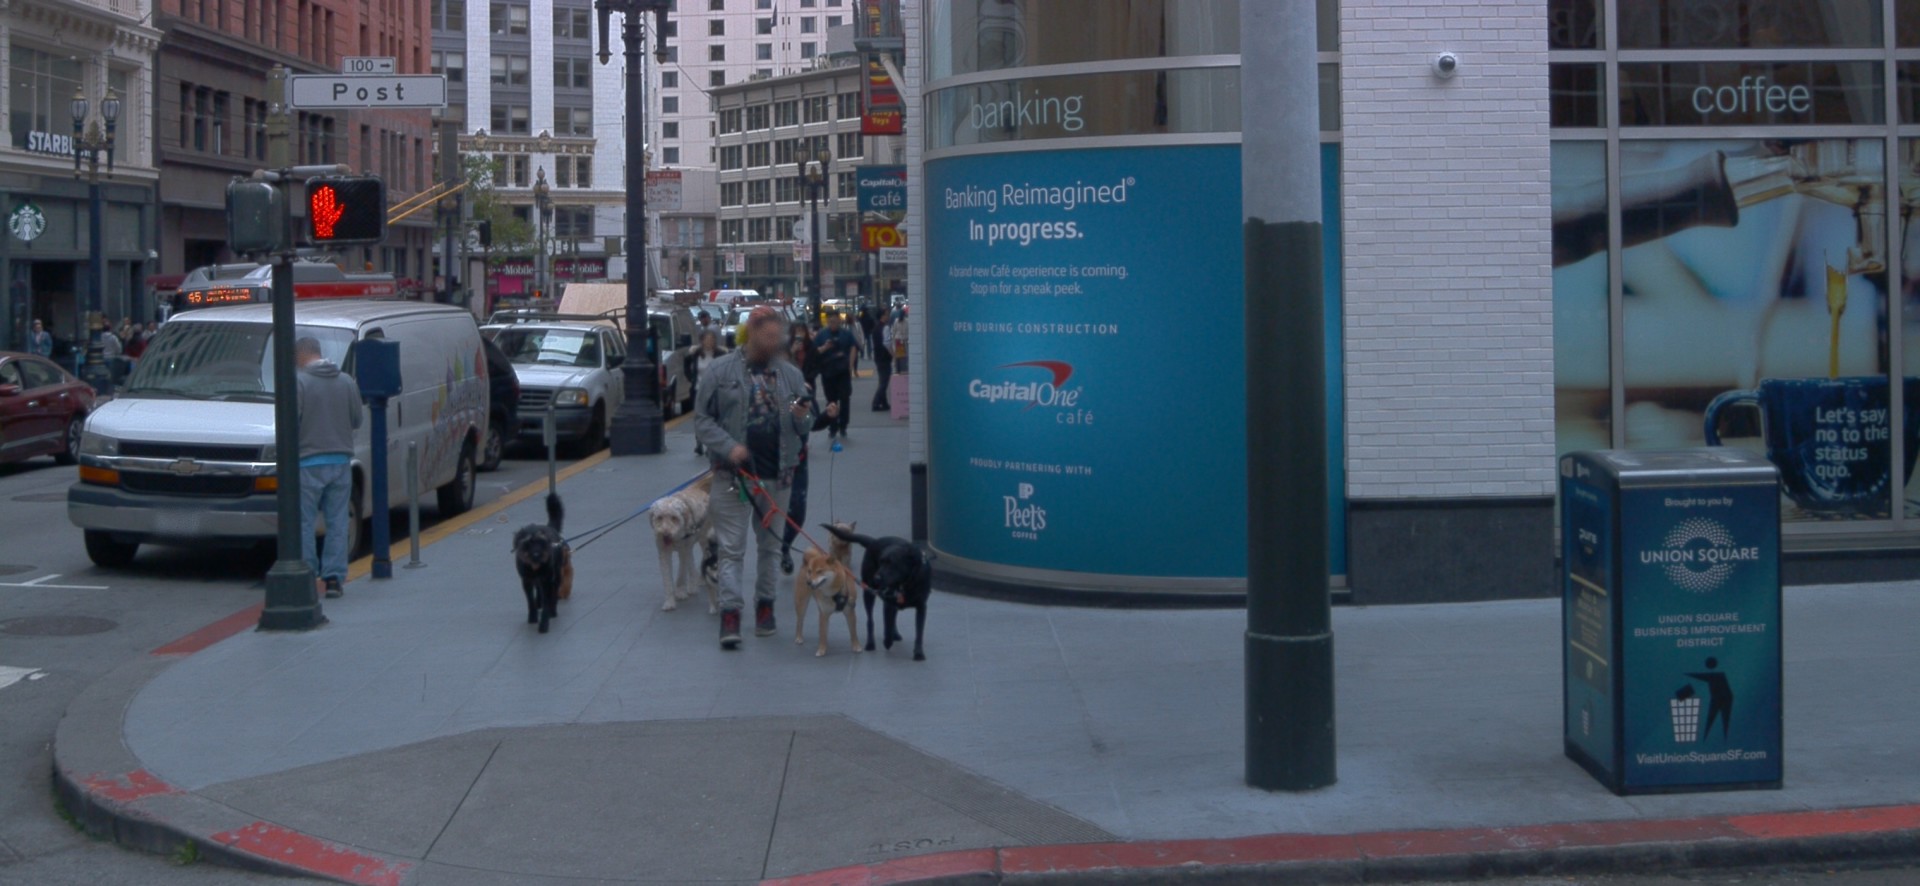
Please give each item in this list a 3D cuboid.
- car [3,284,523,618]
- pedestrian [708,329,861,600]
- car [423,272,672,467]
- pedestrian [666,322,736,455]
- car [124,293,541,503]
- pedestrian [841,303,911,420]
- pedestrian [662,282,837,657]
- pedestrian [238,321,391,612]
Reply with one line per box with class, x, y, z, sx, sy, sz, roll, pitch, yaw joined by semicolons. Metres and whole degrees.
car;-5.709;-0.189;18.079;2.489;2.262;6.320;0;5;-1
pedestrian;-1.172;0.104;13.617;0.961;1.671;0.953;0;1;-8
car;-5.803;-1.214;29.989;2.186;2.422;6.327;0;5;2
pedestrian;-3.305;-0.706;26.403;0.793;1.641;0.804;0;1;0
car;-6.986;-0.645;23.625;2.210;1.994;4.792;1;5;18
pedestrian;-1.430;-1.412;35.192;0.862;1.931;0.846;-1;1;-40
pedestrian;-1.189;0.099;11.520;0.913;1.971;0.936;0;1;-10
pedestrian;-4.282;0.120;13.695;0.656;1.821;0.744;0;1;43
